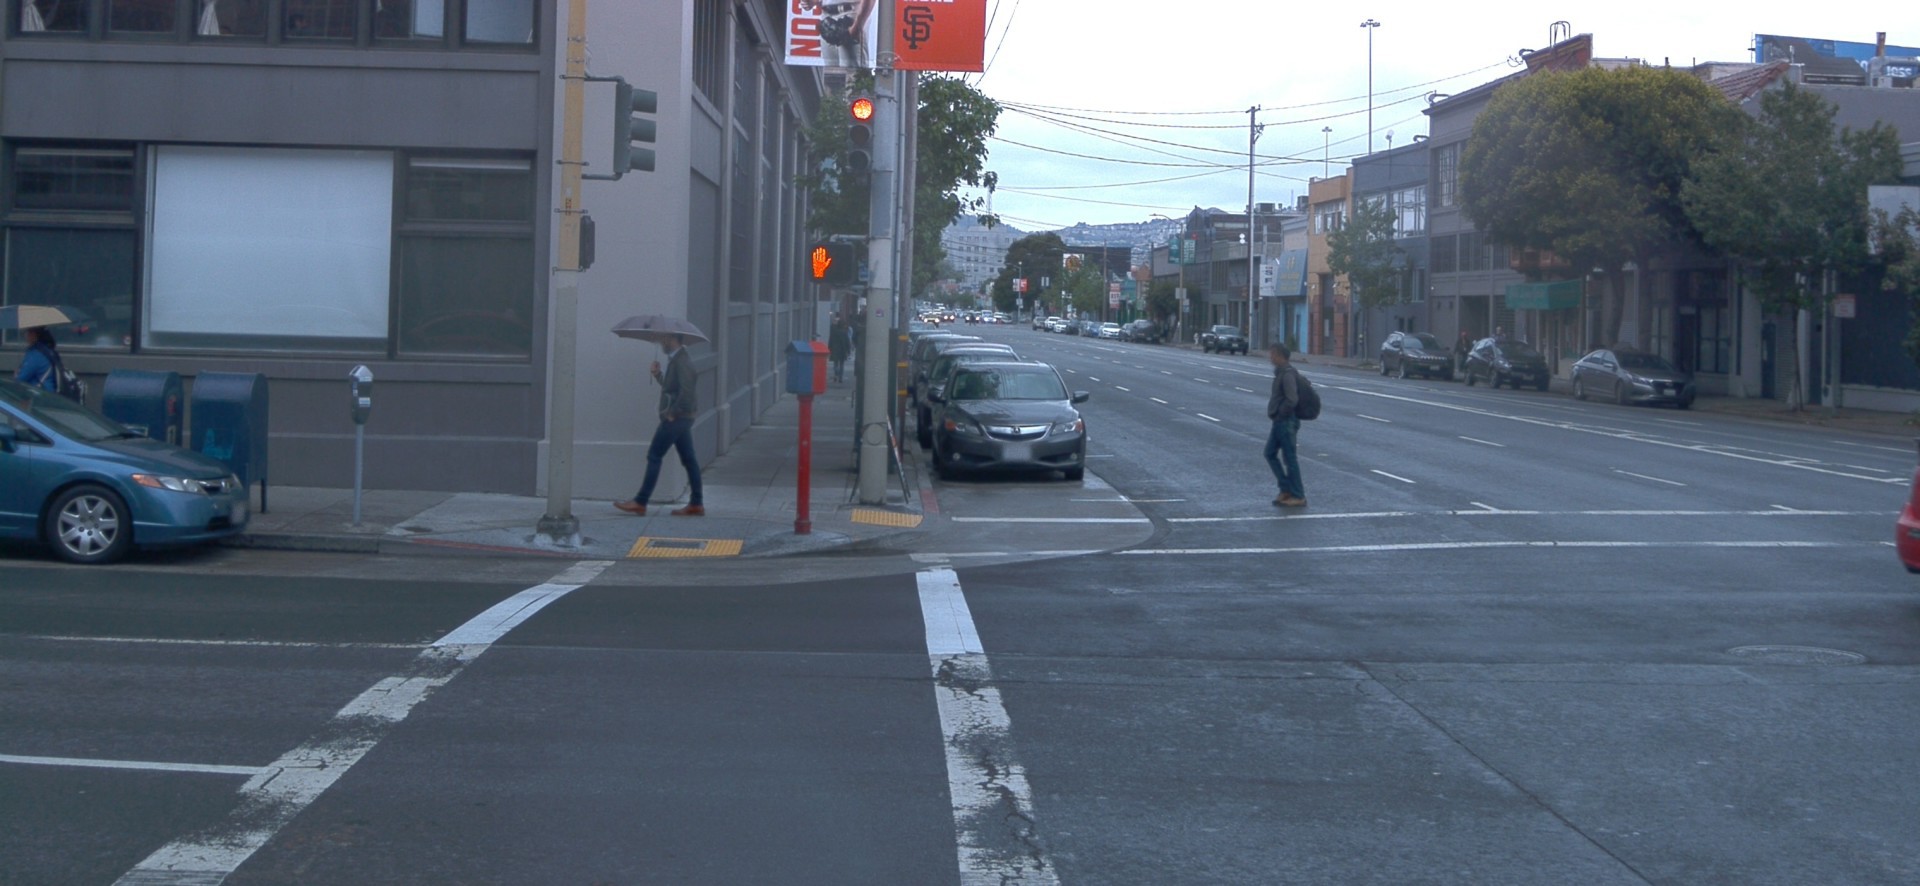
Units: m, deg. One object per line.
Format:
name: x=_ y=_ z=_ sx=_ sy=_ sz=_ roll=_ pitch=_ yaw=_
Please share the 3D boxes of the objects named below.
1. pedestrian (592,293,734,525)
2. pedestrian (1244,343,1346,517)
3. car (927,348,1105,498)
pedestrian: x=-2.786 y=-0.358 z=19.594 sx=1.284 sy=2.082 sz=1.185 roll=0 pitch=2 yaw=-7
pedestrian: x=3.454 y=-0.161 z=21.416 sx=1.015 sy=1.679 sz=1.004 roll=0 pitch=2 yaw=8
car: x=0.611 y=-0.335 z=26.065 sx=2.020 sy=1.454 sz=4.437 roll=0 pitch=5 yaw=-1
